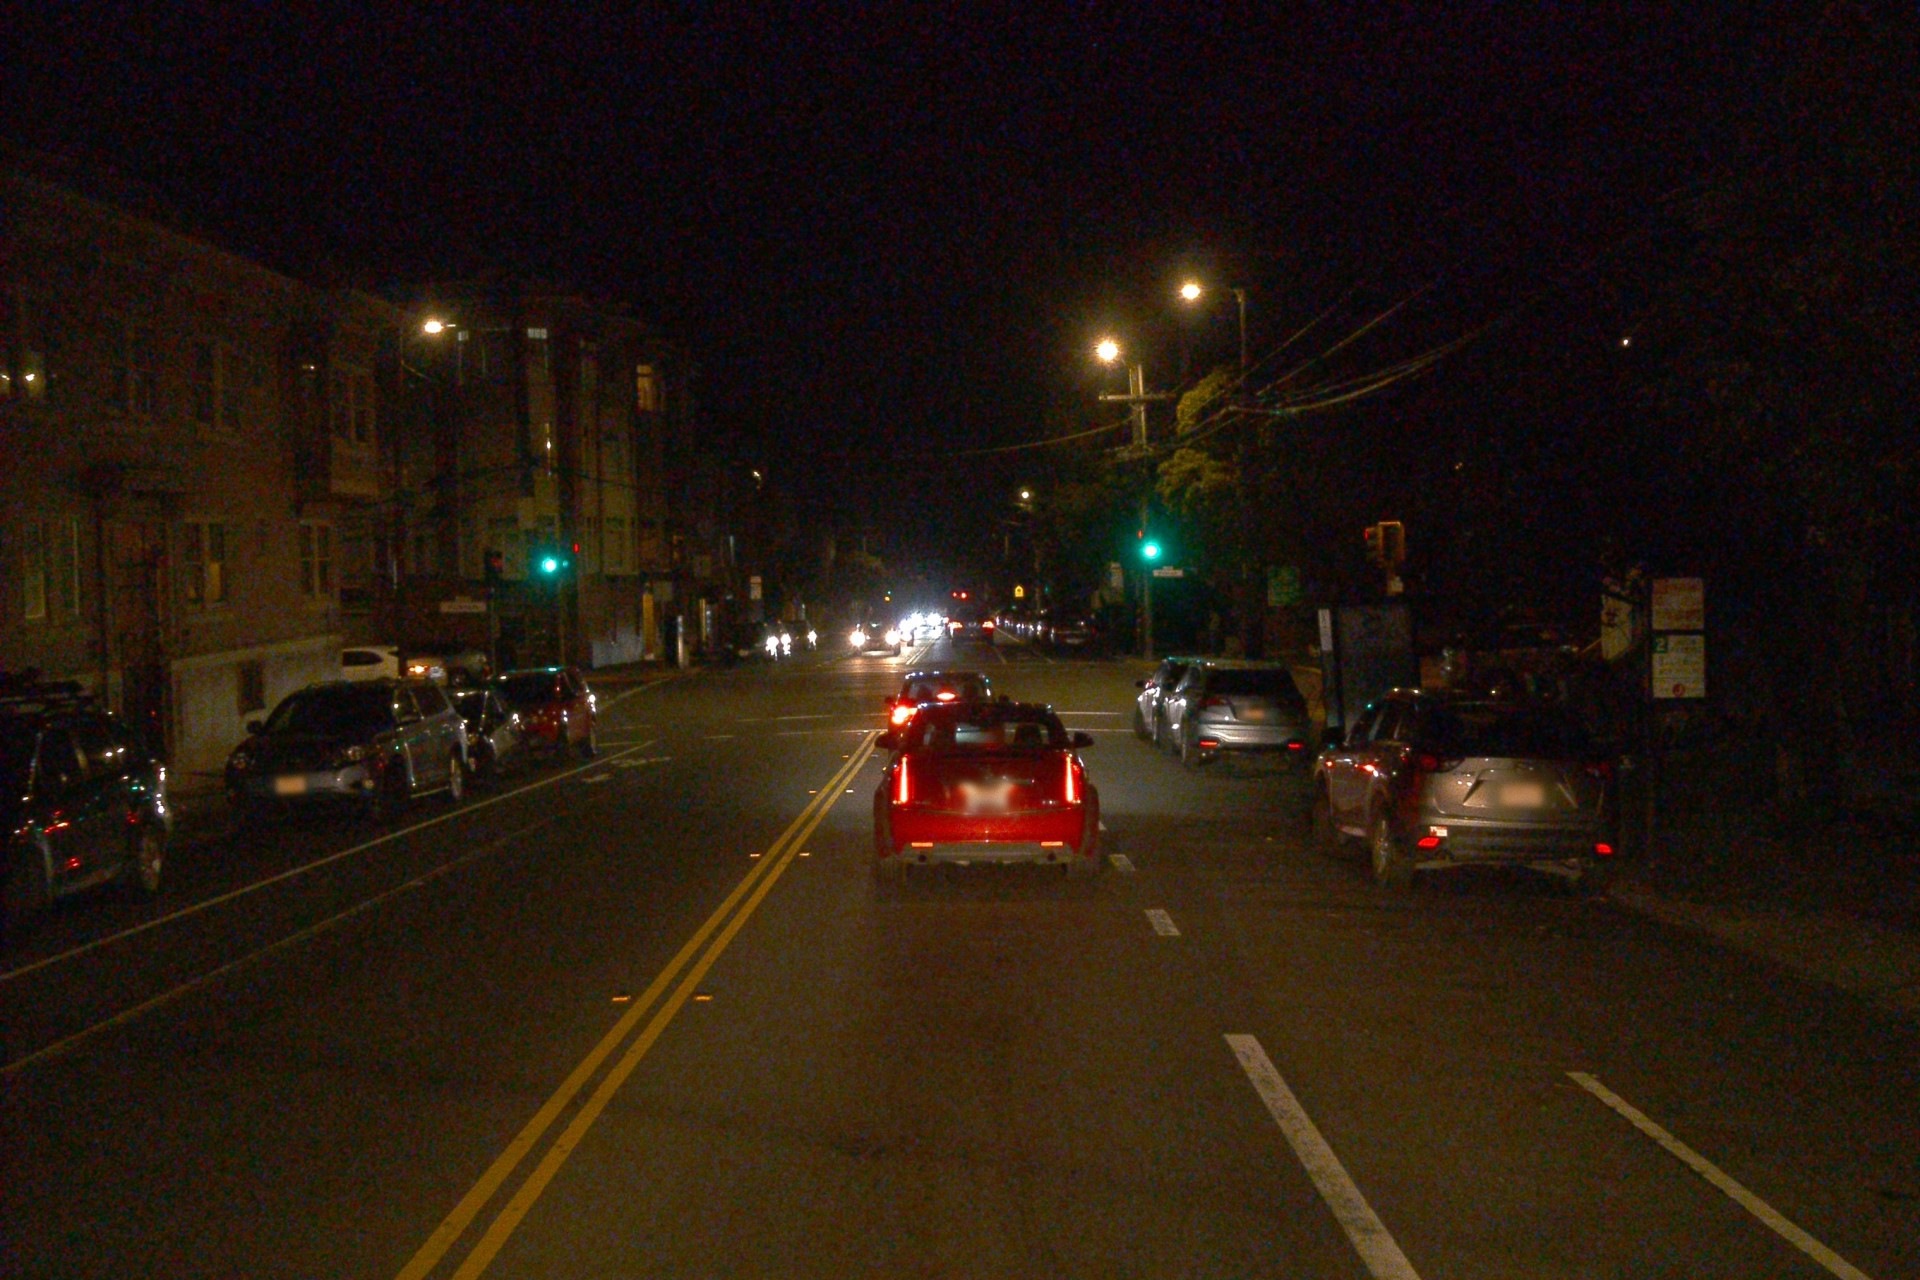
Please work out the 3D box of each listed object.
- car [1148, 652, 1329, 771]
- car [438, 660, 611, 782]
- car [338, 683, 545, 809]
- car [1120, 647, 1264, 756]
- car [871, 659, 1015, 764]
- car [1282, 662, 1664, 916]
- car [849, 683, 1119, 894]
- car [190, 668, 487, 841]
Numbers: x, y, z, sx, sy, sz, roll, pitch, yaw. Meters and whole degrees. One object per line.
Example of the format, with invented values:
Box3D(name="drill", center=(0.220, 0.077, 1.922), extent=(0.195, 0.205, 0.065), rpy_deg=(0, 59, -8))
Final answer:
Box3D(name="car", center=(4.332, 1.073, 32.566), extent=(2.250, 1.690, 4.768), rpy_deg=(1, 0, 0))
Box3D(name="car", center=(-7.536, 1.358, 35.842), extent=(1.998, 1.910, 4.650), rpy_deg=(1, 0, 1))
Box3D(name="car", center=(-7.761, 1.541, 31.043), extent=(2.053, 1.640, 4.520), rpy_deg=(0, 0, -1))
Box3D(name="car", center=(4.220, 1.077, 37.874), extent=(2.084, 1.830, 4.587), rpy_deg=(1, 0, 0))
Box3D(name="car", center=(-0.245, 1.055, 31.845), extent=(2.071, 1.420, 4.588), rpy_deg=(1, 0, 0))
Box3D(name="car", center=(4.331, 1.181, 18.114), extent=(2.178, 1.870, 4.606), rpy_deg=(1, 0, 0))
Box3D(name="car", center=(0.193, 1.185, 17.923), extent=(2.067, 1.490, 4.418), rpy_deg=(1, 0, 0))
Box3D(name="car", center=(-7.584, 1.330, 25.533), extent=(2.196, 1.850, 4.807), rpy_deg=(1, 0, 1))
